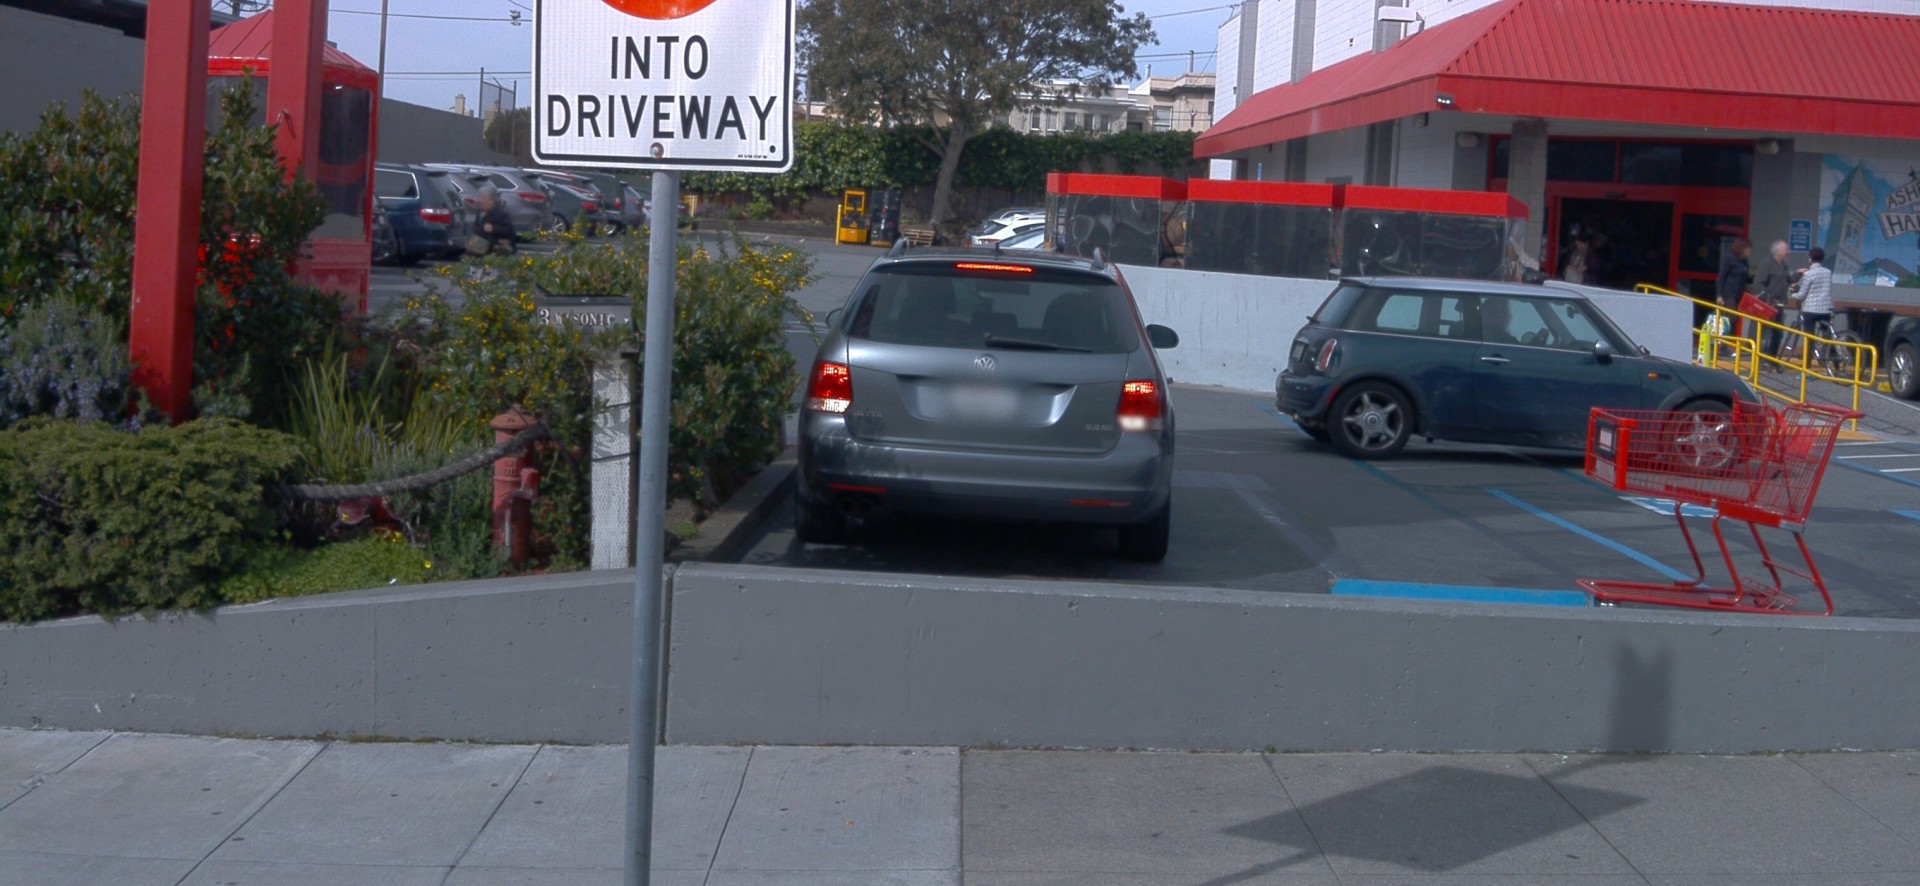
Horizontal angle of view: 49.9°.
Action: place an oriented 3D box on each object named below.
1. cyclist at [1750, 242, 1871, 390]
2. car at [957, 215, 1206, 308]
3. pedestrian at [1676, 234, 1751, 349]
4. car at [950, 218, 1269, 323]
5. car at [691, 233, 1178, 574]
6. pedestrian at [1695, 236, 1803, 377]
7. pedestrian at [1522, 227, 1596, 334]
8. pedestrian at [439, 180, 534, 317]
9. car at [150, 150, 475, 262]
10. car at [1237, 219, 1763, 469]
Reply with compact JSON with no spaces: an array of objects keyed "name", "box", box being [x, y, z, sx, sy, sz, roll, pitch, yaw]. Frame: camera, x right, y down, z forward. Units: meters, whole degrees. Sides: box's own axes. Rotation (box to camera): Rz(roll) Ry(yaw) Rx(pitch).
[{"name":"cyclist","box":[10.687,-1.626,25.975,0.634,1.800,1.377,0,2,-21]},{"name":"car","box":[2.275,-3.513,39.751,4.629,1.737,2.270,0,4,-1]},{"name":"pedestrian","box":[10.423,-2.107,28.556,0.803,1.567,0.610,-1,1,-31]},{"name":"car","box":[2.536,-3.041,36.202,5.373,1.766,2.394,0,4,-1]},{"name":"car","box":[-0.002,-0.379,10.885,2.075,1.434,4.236,0,5,3]},{"name":"pedestrian","box":[10.192,-1.783,26.697,0.965,1.786,0.917,0,1,-10]},{"name":"pedestrian","box":[9.110,-2.487,31.410,0.703,1.606,0.849,0,1,-22]},{"name":"pedestrian","box":[-5.940,-2.443,25.909,0.832,1.685,0.870,-1,2,-45]},{"name":"car","box":[-11.062,-4.069,35.568,4.935,1.867,2.196,0,3,-2]},{"name":"car","box":[4.143,-0.826,16.289,3.666,1.858,1.849,0,3,0]}]
